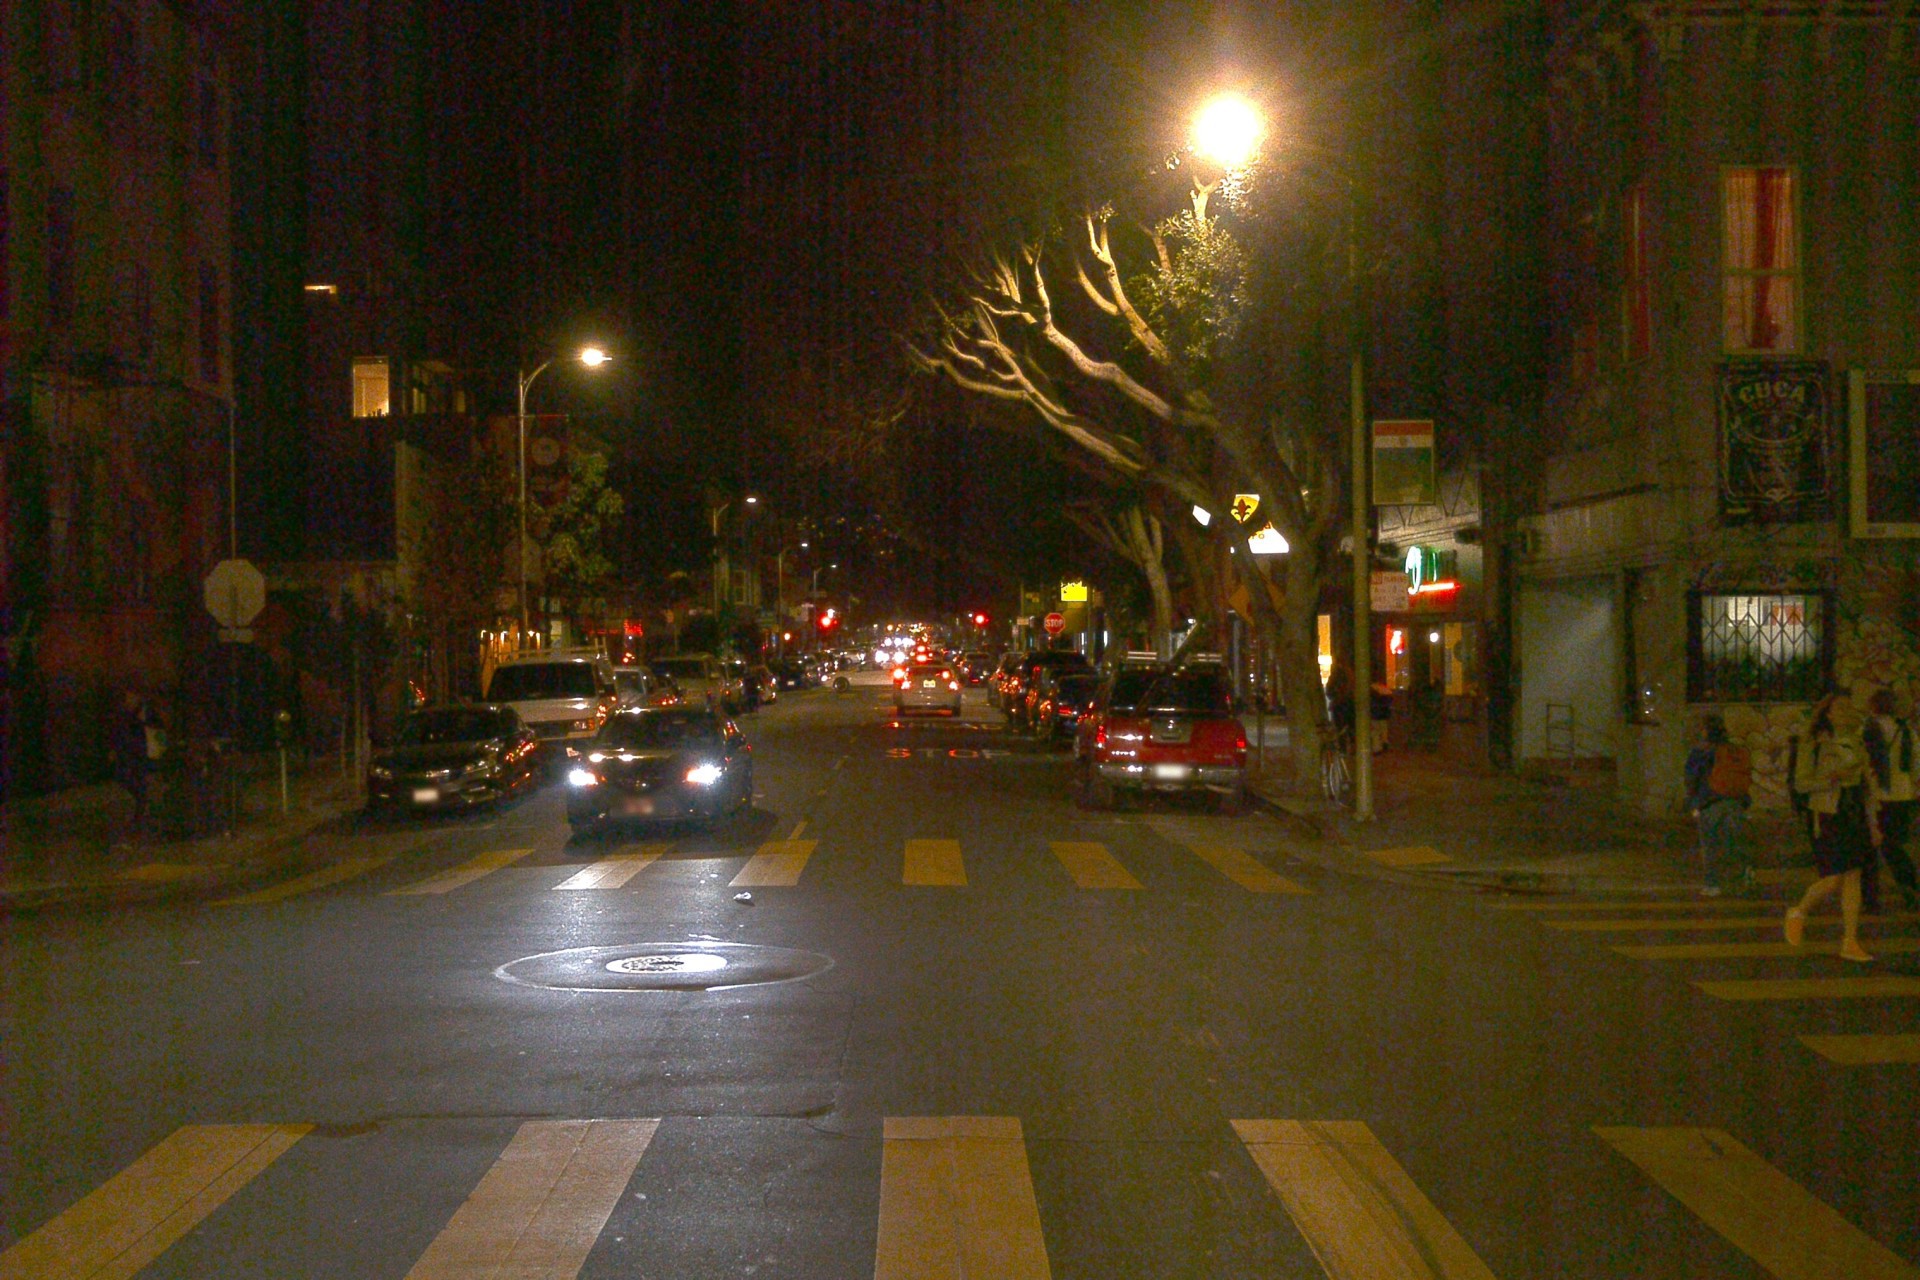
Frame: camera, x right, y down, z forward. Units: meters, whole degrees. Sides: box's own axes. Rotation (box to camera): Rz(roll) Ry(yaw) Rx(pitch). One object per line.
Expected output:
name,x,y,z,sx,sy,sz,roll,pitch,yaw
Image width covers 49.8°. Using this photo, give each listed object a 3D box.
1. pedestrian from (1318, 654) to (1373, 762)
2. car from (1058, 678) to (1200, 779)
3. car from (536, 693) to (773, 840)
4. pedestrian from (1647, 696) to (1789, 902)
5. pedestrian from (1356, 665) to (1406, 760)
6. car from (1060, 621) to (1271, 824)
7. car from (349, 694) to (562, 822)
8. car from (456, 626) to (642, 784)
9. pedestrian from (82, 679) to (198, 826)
pedestrian,6.284,1.096,33.792,0.722,1.730,0.998,0,0,2
car,2.877,1.491,36.090,2.035,1.590,4.289,0,0,-1
car,-3.635,1.475,25.587,2.245,1.520,4.894,0,0,0
pedestrian,6.368,1.313,17.427,0.750,1.660,1.058,0,0,-2
pedestrian,6.871,1.173,33.801,0.683,1.520,0.703,0,0,2
car,2.770,1.045,29.049,2.609,2.510,6.384,0,0,4
car,-7.133,1.619,29.777,2.111,1.570,4.965,0,0,-3
car,-7.102,1.072,36.380,2.537,2.560,5.516,0,0,-4
pedestrian,-10.231,1.383,25.853,1.010,1.780,1.074,0,0,2
